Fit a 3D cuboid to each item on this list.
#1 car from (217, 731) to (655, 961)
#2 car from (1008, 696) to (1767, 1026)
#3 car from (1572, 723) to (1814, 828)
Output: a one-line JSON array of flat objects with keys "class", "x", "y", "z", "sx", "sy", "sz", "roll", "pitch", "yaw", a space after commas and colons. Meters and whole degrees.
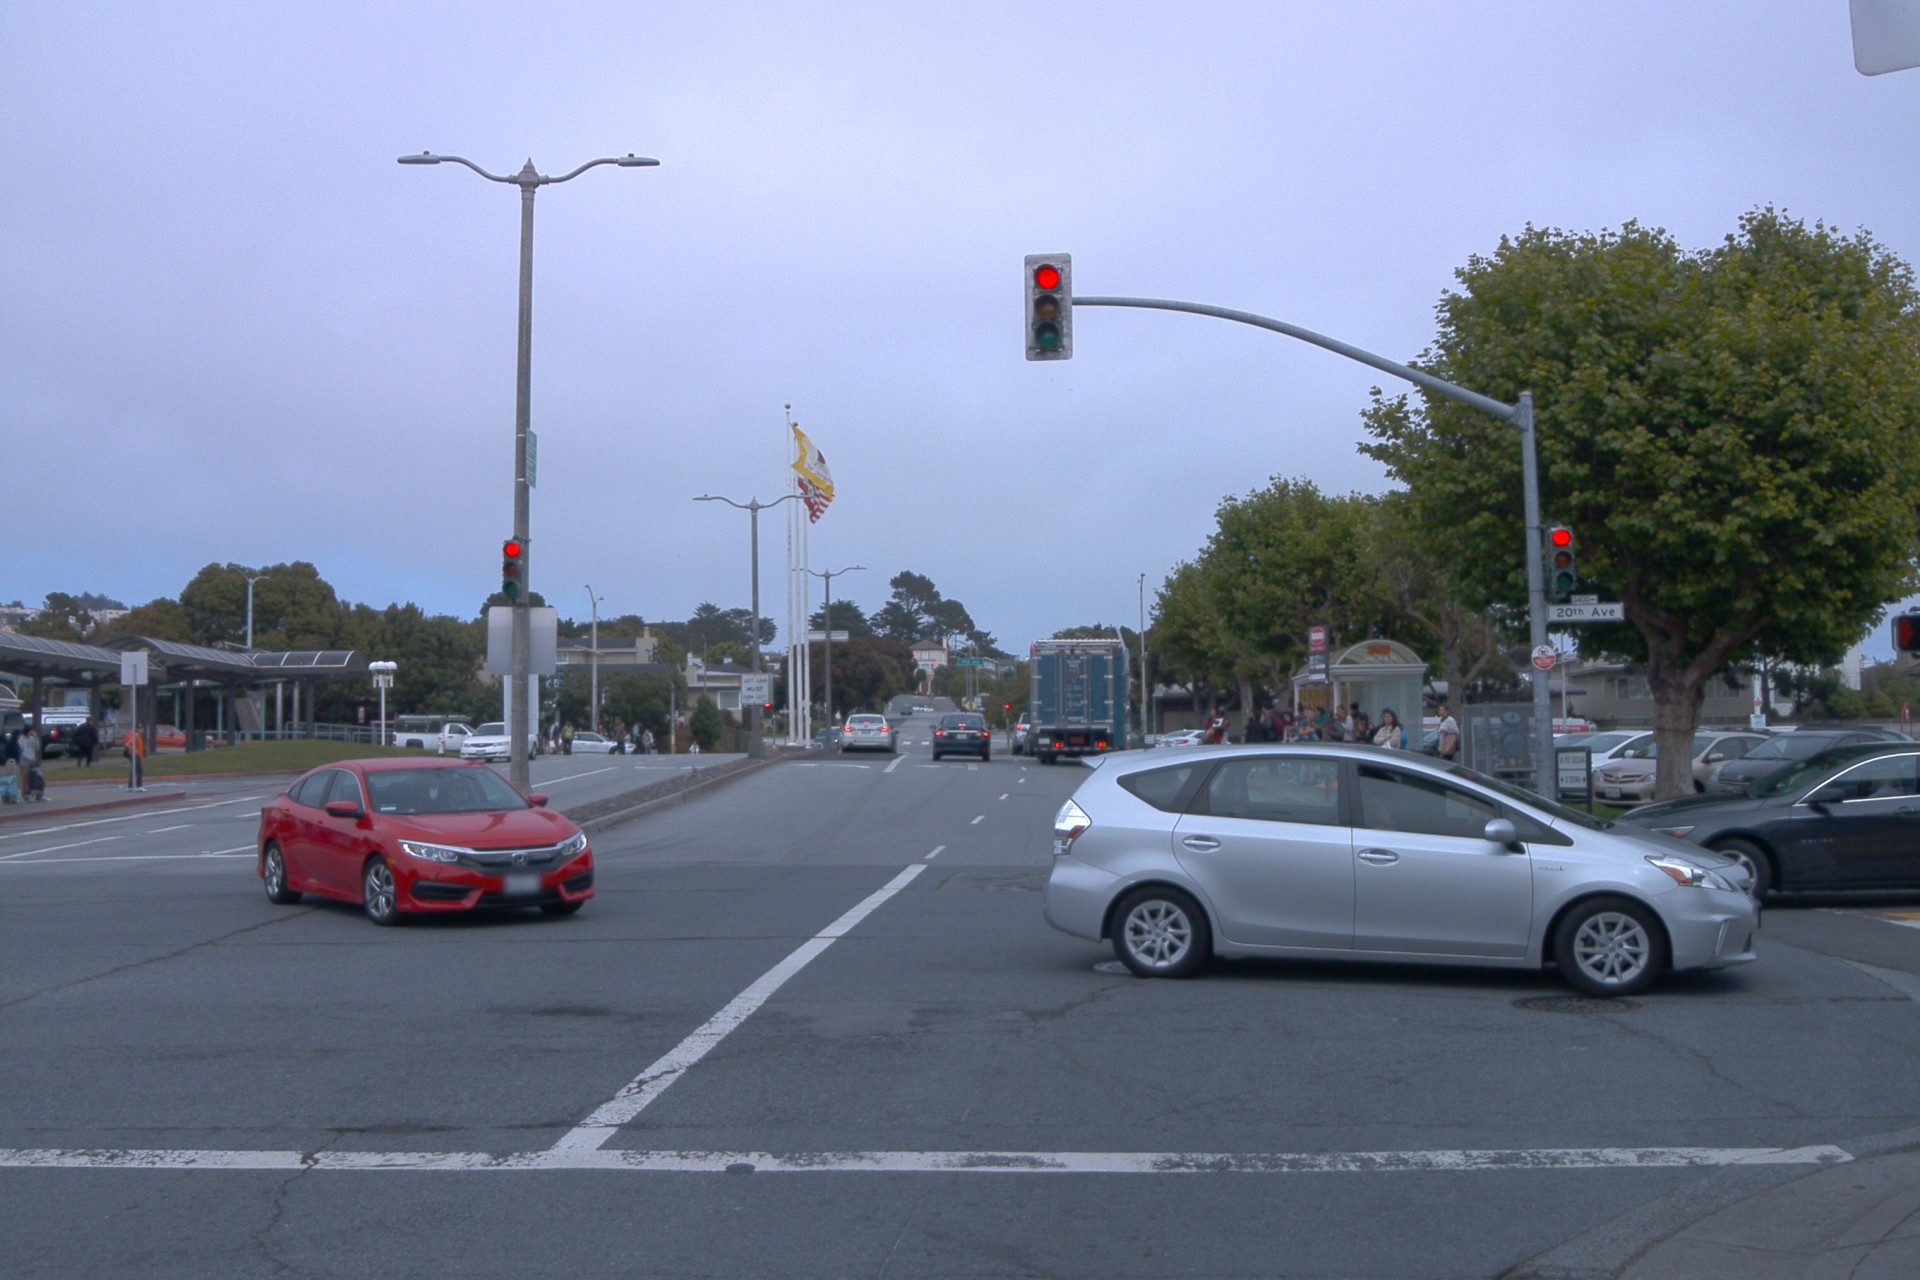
[{"class": "car", "x": -4.916, "y": 1.739, "z": 18.786, "sx": 2.272, "sy": 1.526, "sz": 4.672, "roll": -1, "pitch": 1, "yaw": -36}, {"class": "car", "x": 2.879, "y": 1.353, "z": 13.899, "sx": 4.696, "sy": 1.825, "sz": 2.103, "roll": 0, "pitch": 1, "yaw": 19}, {"class": "car", "x": 12.853, "y": 2.322, "z": 36.015, "sx": 3.959, "sy": 1.540, "sz": 1.985, "roll": -1, "pitch": 1, "yaw": -33}]
